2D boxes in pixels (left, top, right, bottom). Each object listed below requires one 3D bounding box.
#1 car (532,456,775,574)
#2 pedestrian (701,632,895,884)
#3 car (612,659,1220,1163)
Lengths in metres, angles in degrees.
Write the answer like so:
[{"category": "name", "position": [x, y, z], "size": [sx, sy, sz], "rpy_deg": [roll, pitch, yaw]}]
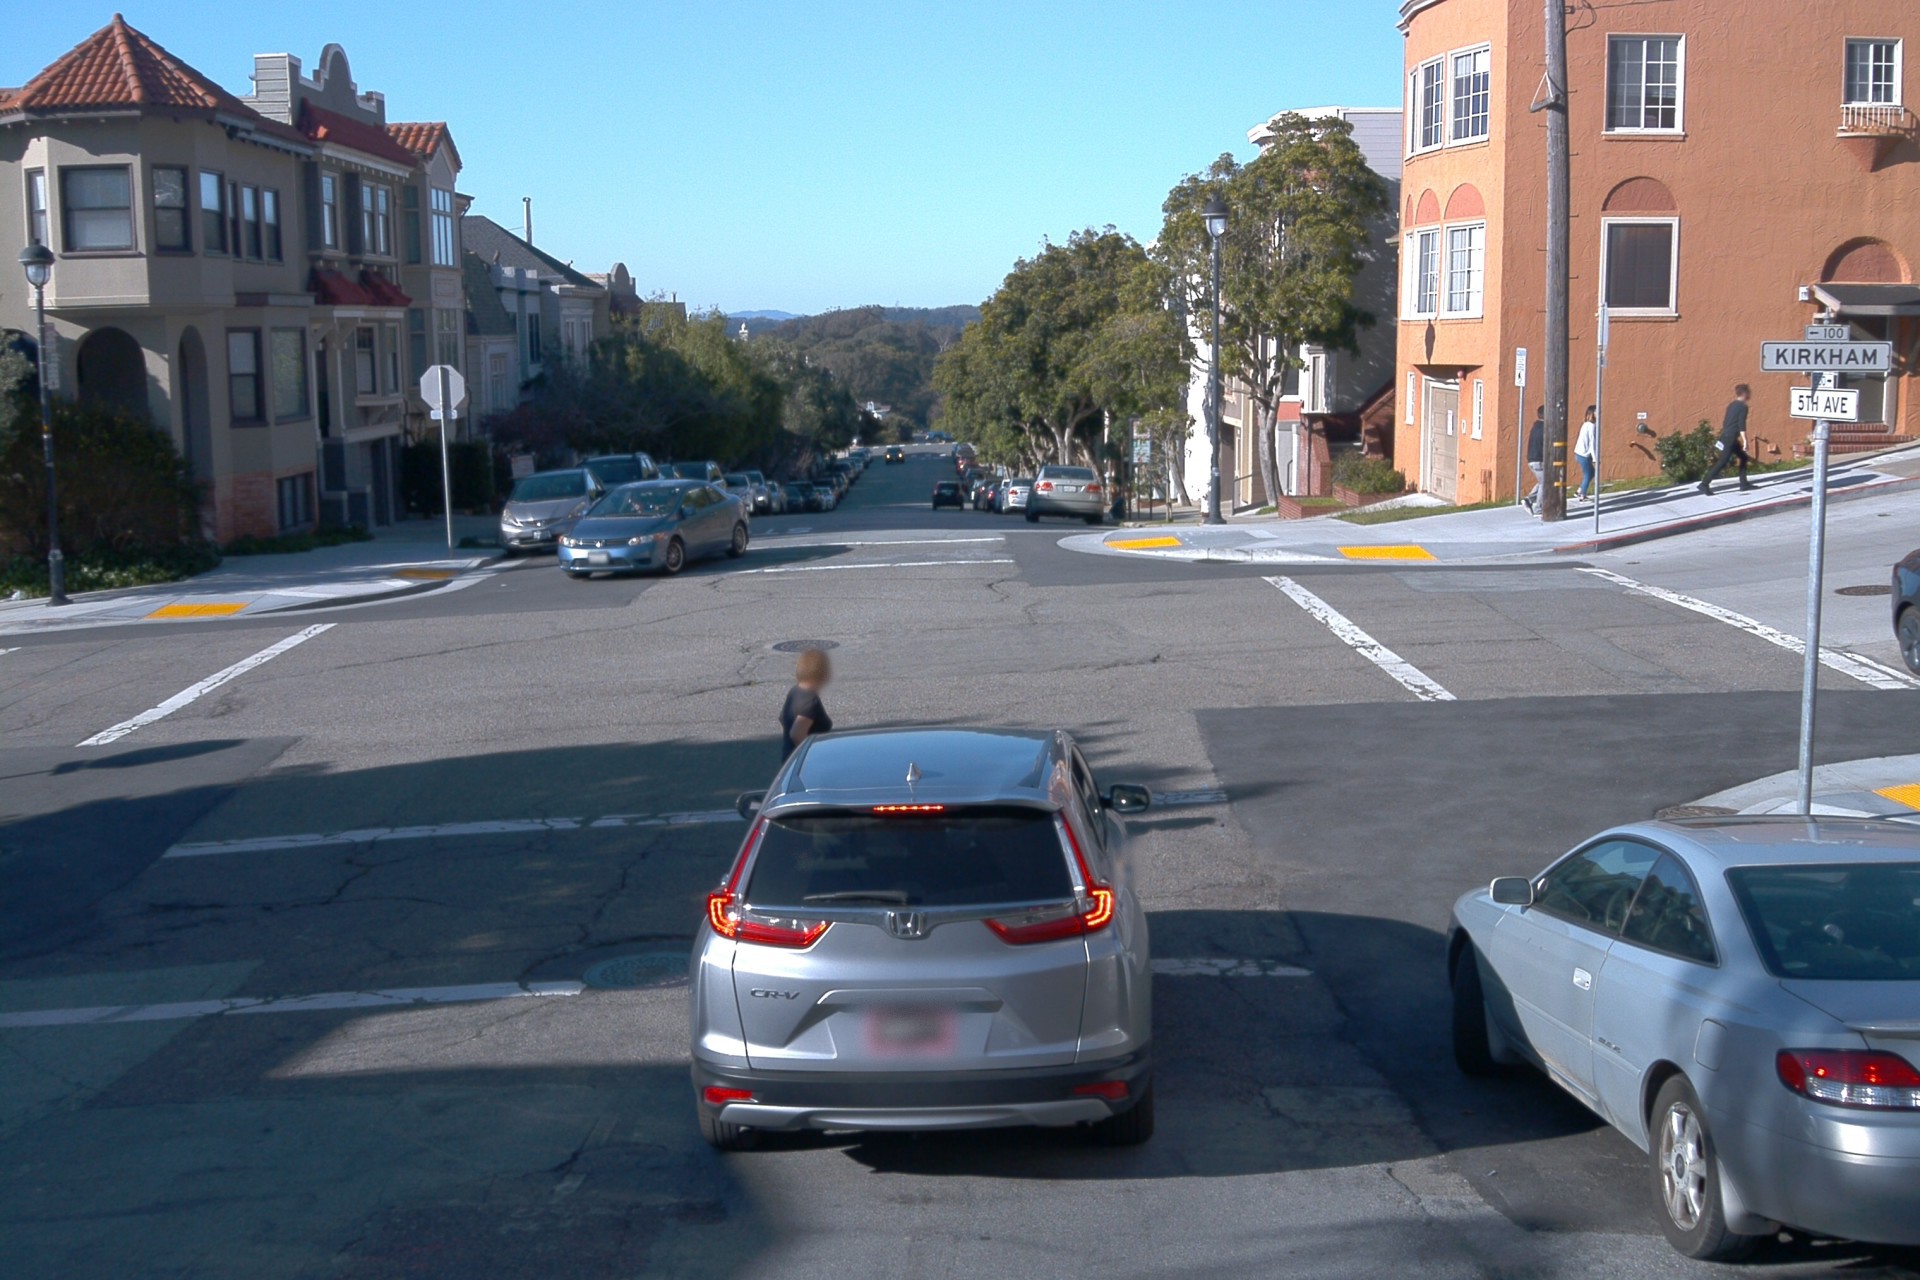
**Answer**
[{"category": "car", "position": [-4.708, -1.895, 32.472], "size": [1.822, 1.530, 4.404], "rpy_deg": [0, 0, 21]}, {"category": "pedestrian", "position": [-1.090, 0.763, 13.850], "size": [1.128, 1.620, 0.731], "rpy_deg": [0, 0, -21]}, {"category": "car", "position": [-0.168, 1.000, 9.823], "size": [2.191, 1.800, 4.695], "rpy_deg": [0, 0, 0]}]
